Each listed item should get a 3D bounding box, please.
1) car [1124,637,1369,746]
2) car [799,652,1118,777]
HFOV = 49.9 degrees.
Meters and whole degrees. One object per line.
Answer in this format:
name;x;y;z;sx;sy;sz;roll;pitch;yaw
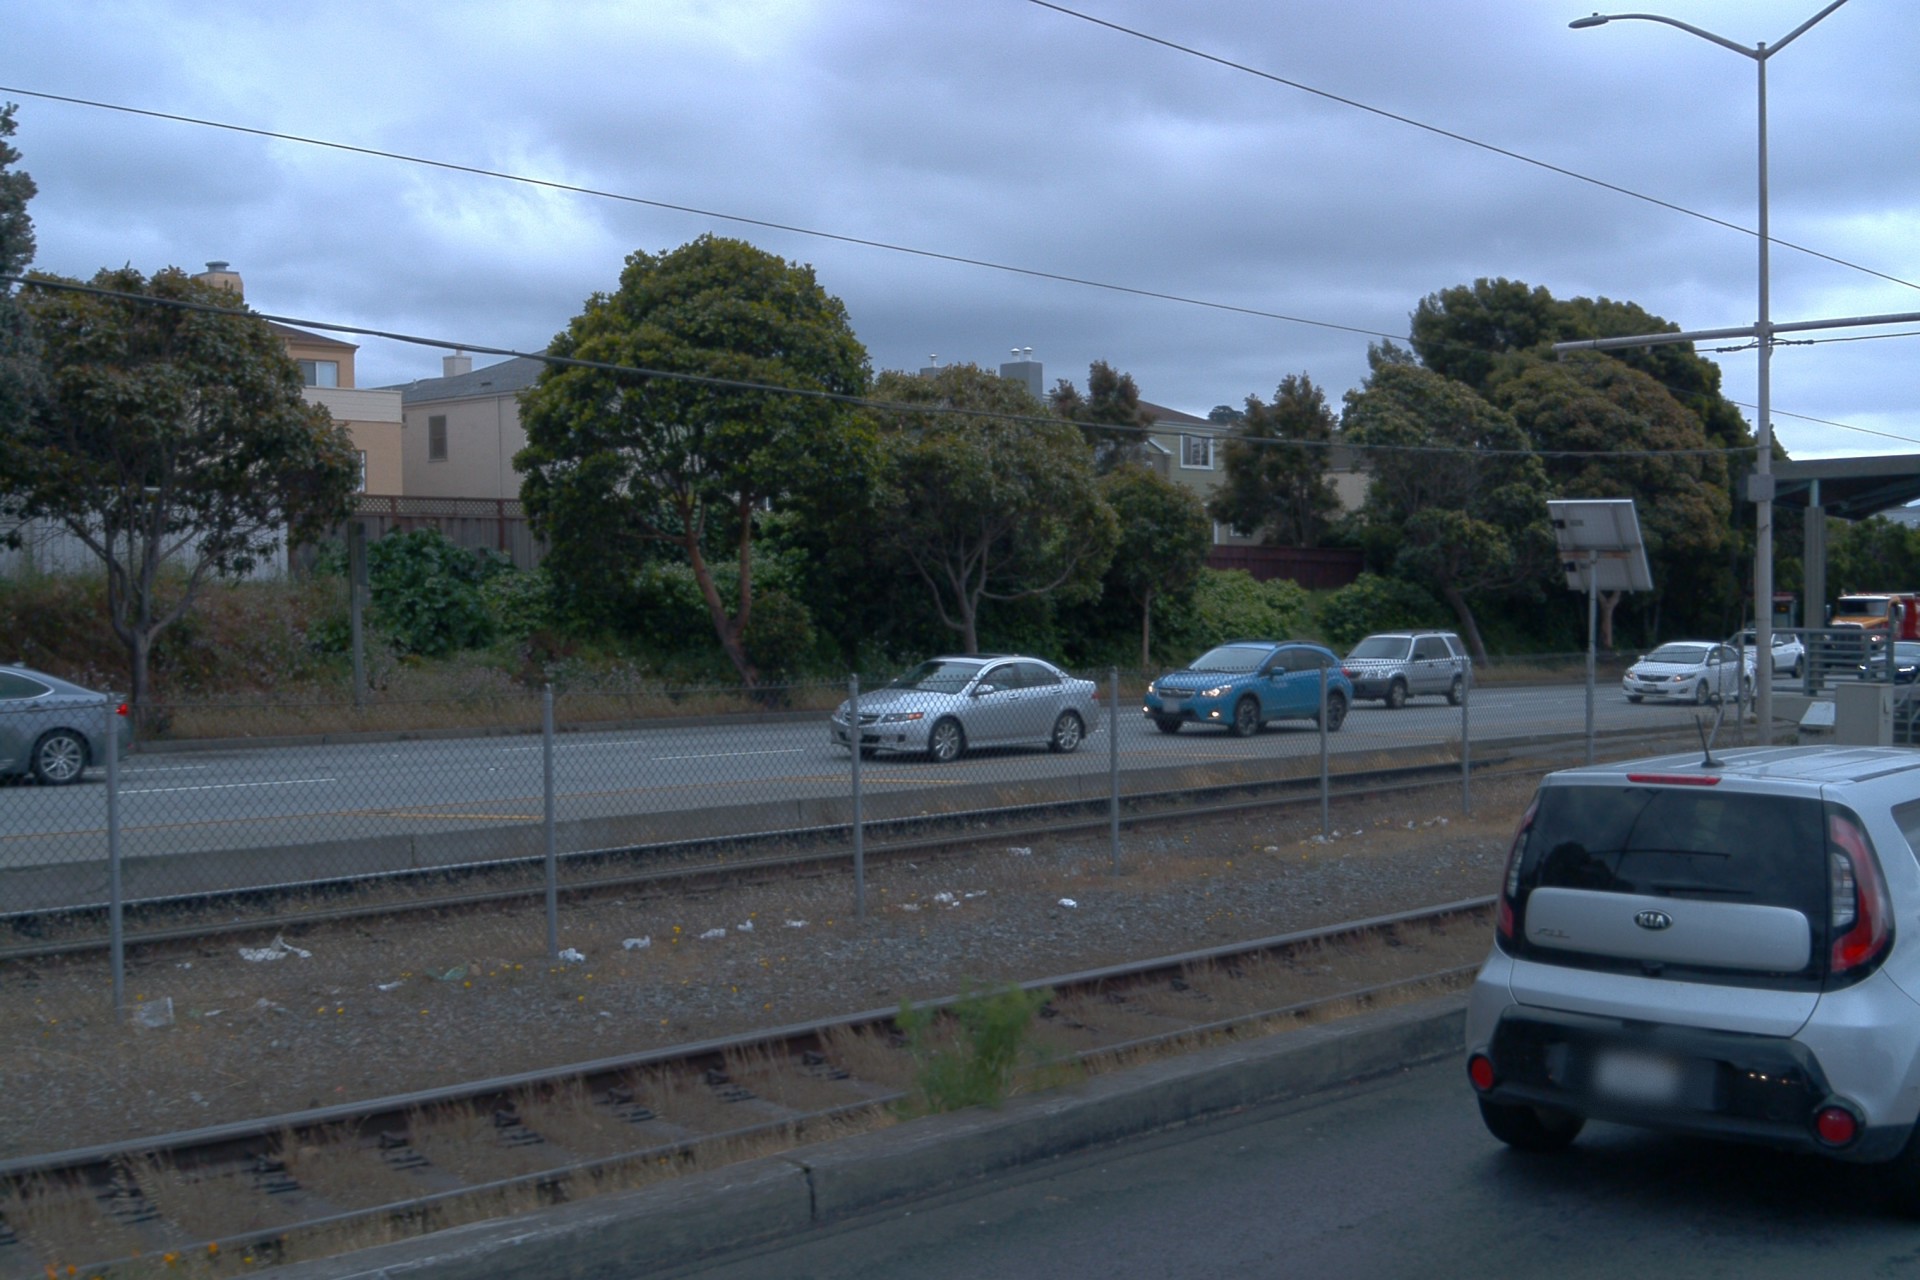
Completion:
car;4.962;0.817;35.370;1.975;1.690;4.425;1;1;43
car;0.059;0.996;29.476;1.916;1.550;4.655;1;1;42
